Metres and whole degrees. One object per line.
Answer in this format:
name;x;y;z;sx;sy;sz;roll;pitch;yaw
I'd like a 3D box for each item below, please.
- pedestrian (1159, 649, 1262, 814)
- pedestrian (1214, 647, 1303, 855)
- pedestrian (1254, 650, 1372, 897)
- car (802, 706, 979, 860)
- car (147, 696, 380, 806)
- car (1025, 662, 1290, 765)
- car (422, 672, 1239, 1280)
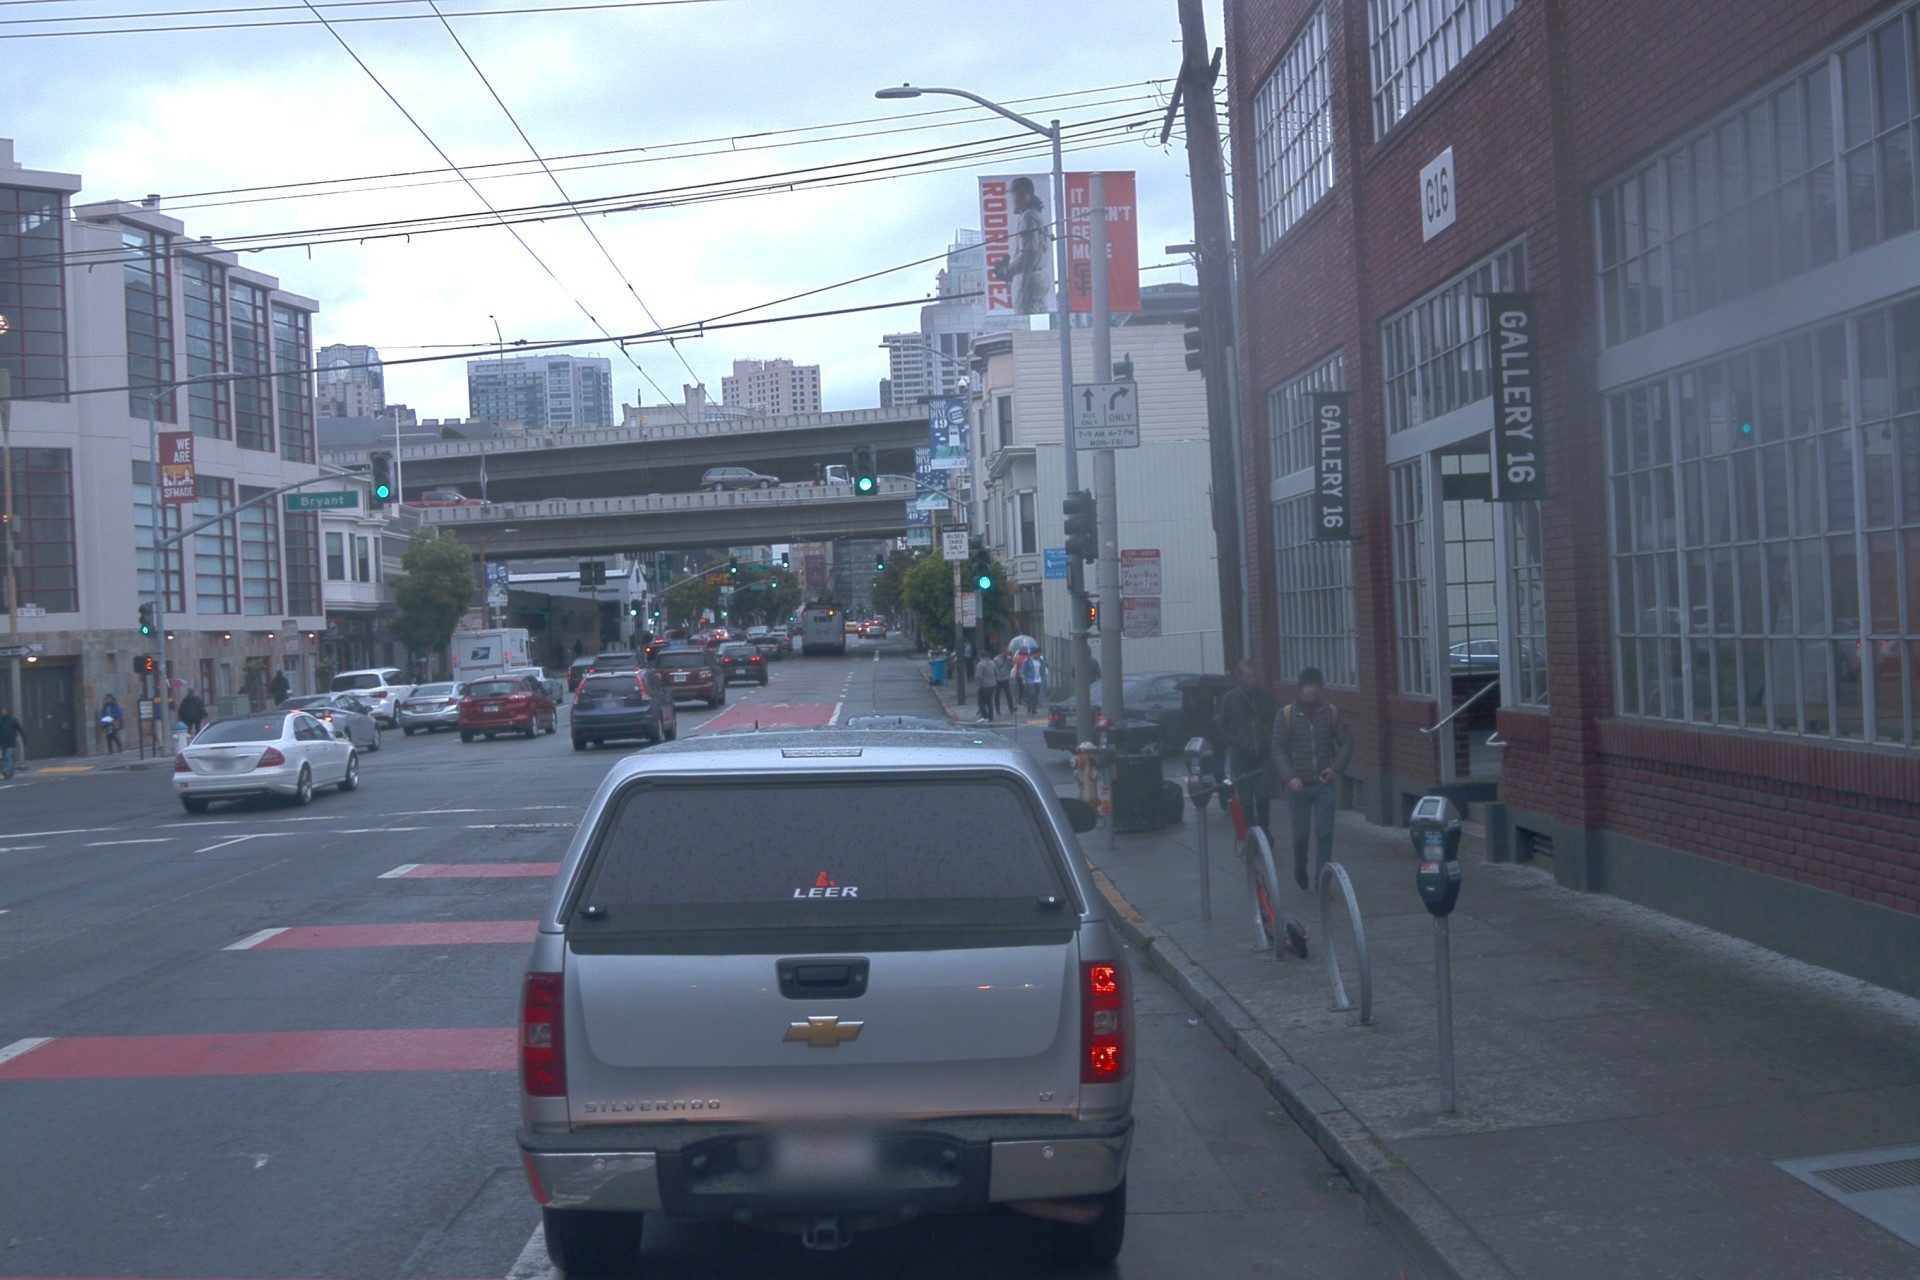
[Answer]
pedestrian;2.900;1.045;24.129;1.016;1.870;1.039;0;-1;-4
pedestrian;2.743;1.005;19.129;0.749;1.870;0.954;0;-1;5
pedestrian;2.671;0.994;15.754;0.763;1.820;0.914;0;-1;2
car;-0.820;1.594;24.345;1.892;1.560;4.371;0;-1;-2
car;-10.878;1.687;32.807;2.165;1.530;4.972;0;-1;-2
car;3.376;1.187;34.940;4.385;1.620;1.975;1;-1;-41
car;-0.474;1.178;8.913;2.411;2.070;5.547;0;-1;-2
